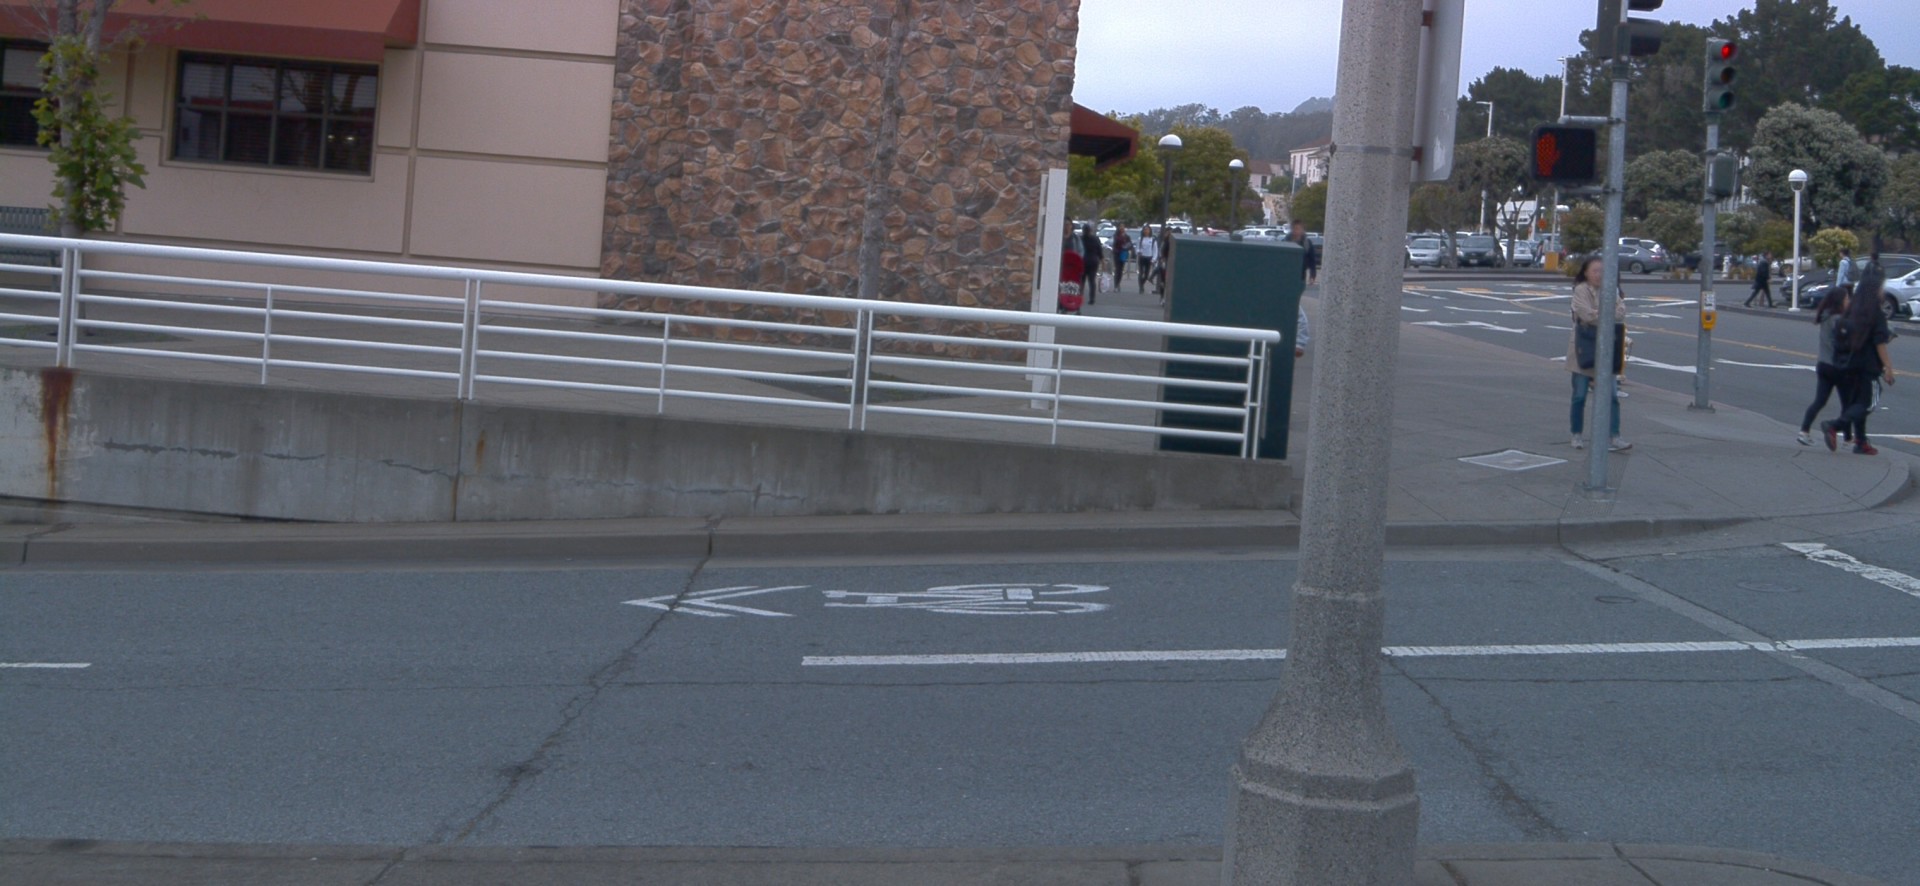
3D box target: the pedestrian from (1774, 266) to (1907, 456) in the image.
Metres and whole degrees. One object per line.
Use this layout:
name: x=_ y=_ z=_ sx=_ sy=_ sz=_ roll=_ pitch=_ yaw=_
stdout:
pedestrian: x=8.188 y=-0.789 z=19.230 sx=0.896 sy=1.687 sz=0.728 roll=-2 pitch=2 yaw=-25

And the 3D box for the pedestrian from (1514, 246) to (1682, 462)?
pedestrian: x=5.279 y=-0.763 z=17.127 sx=1.041 sy=1.706 sz=0.821 roll=-1 pitch=2 yaw=-17

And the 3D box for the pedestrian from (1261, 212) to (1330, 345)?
pedestrian: x=5.112 y=-2.532 z=31.565 sx=0.916 sy=1.976 sz=1.193 roll=0 pitch=3 yaw=4
